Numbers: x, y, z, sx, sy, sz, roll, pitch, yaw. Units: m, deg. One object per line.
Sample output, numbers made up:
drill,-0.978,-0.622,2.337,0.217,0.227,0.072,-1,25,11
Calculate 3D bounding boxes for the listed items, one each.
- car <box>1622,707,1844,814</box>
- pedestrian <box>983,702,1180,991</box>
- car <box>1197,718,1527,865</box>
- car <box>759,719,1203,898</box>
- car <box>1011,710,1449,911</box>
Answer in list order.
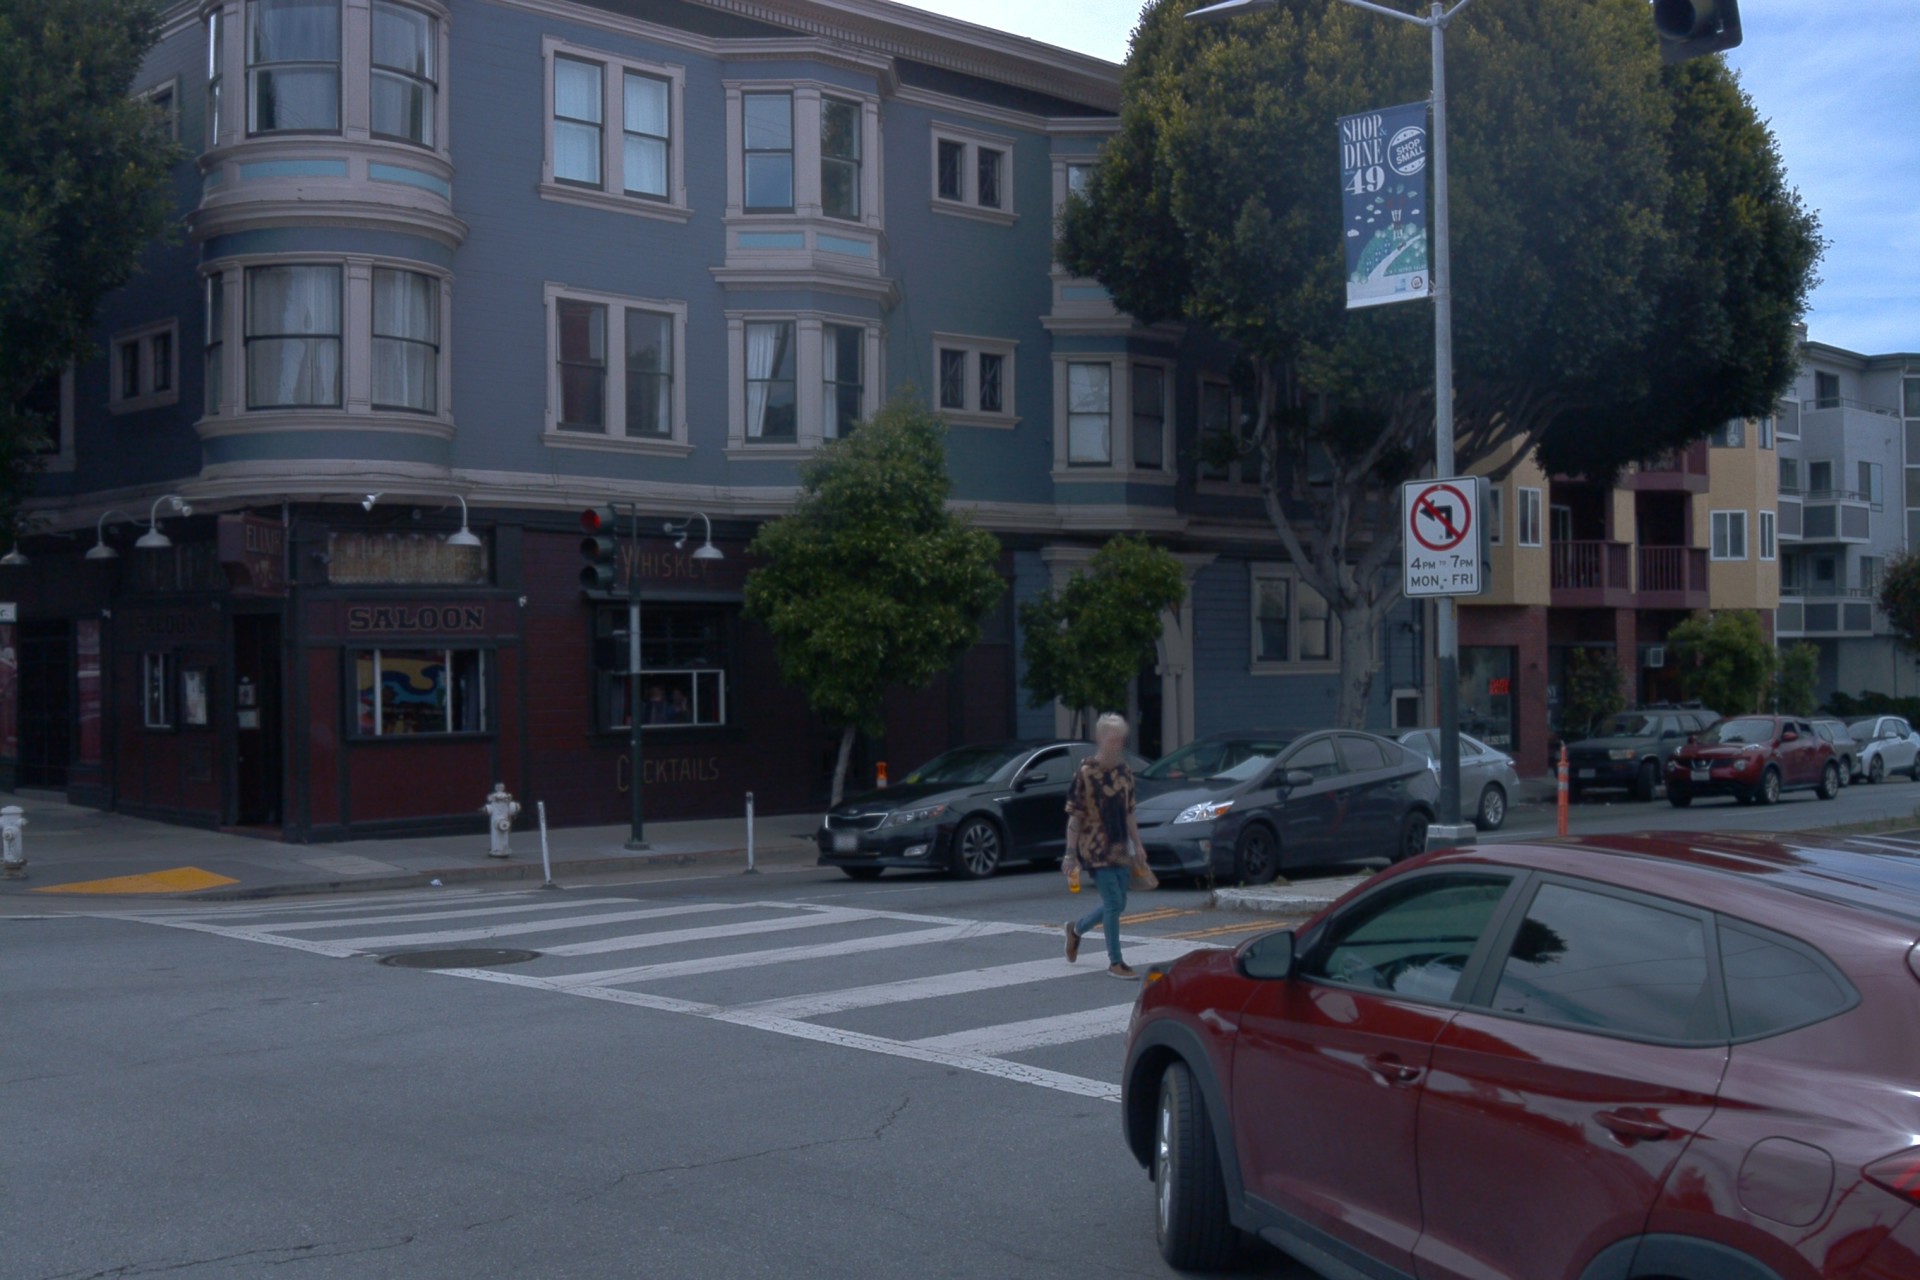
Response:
car,13.670,2.062,36.412,2.078,1.570,4.319,1,1,45
pedestrian,0.795,1.319,13.643,0.786,1.761,1.057,-1,1,-41
car,5.547,1.980,28.131,4.637,1.610,2.188,-1,1,-45
car,0.331,1.726,22.459,2.143,1.500,4.732,1,1,44
car,2.796,1.596,20.678,2.051,1.590,4.479,1,1,45
